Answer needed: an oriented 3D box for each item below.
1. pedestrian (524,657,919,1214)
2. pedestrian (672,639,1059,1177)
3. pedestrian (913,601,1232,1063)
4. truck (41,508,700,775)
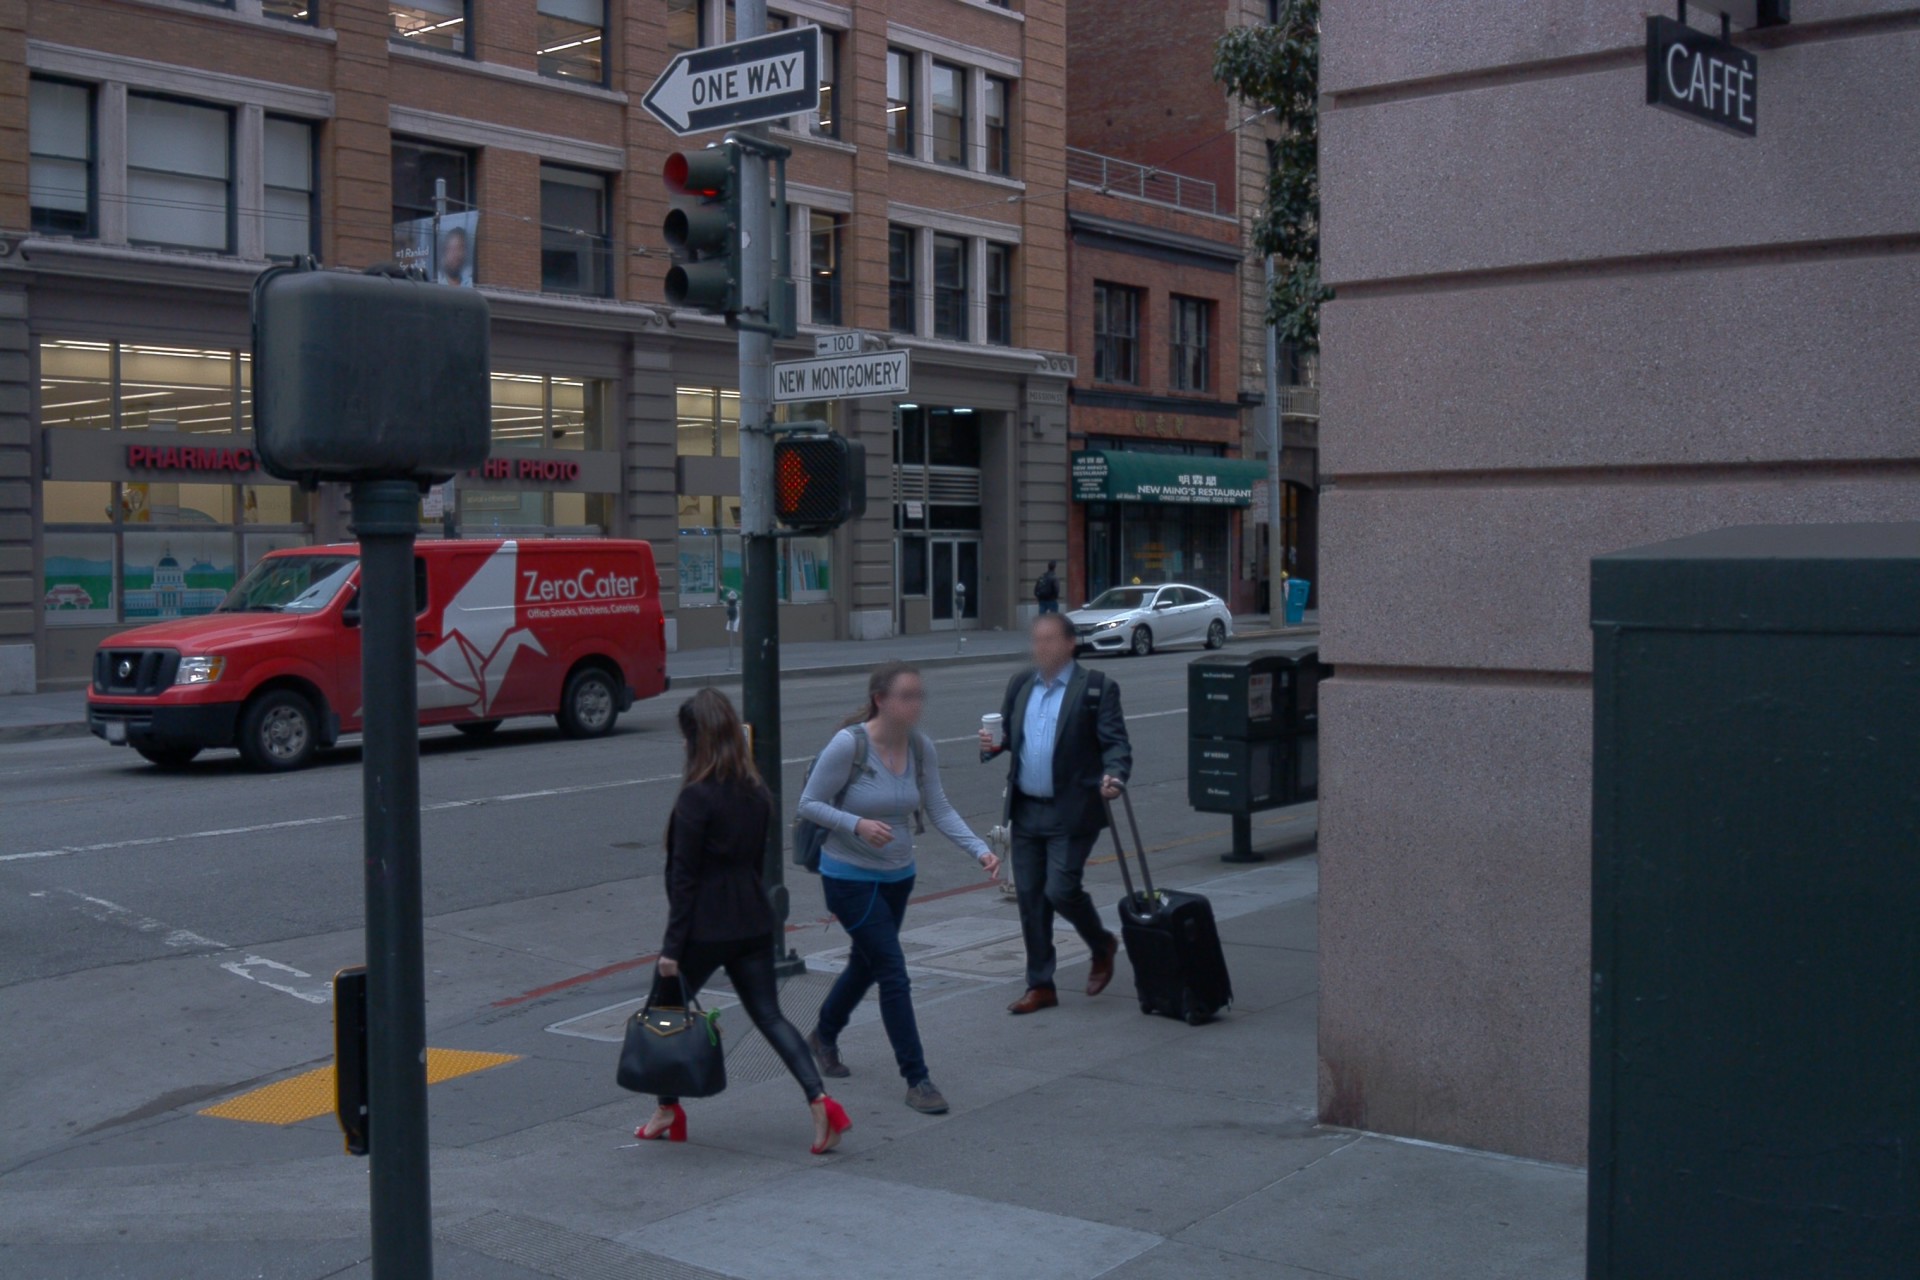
[{"bbox_3d":[-0.810,0.925,7.041,1.093,1.710,0.782,0,1,33],"label":"pedestrian"},{"bbox_3d":[-0.352,0.885,7.529,0.922,1.765,1.086,-1,1,-42],"label":"pedestrian"},{"bbox_3d":[0.498,0.768,9.008,1.120,1.860,0.858,-1,1,-44],"label":"pedestrian"},{"bbox_3d":[-5.567,-0.014,20.473,2.356,2.240,6.072,0,1,37],"label":"truck"}]
